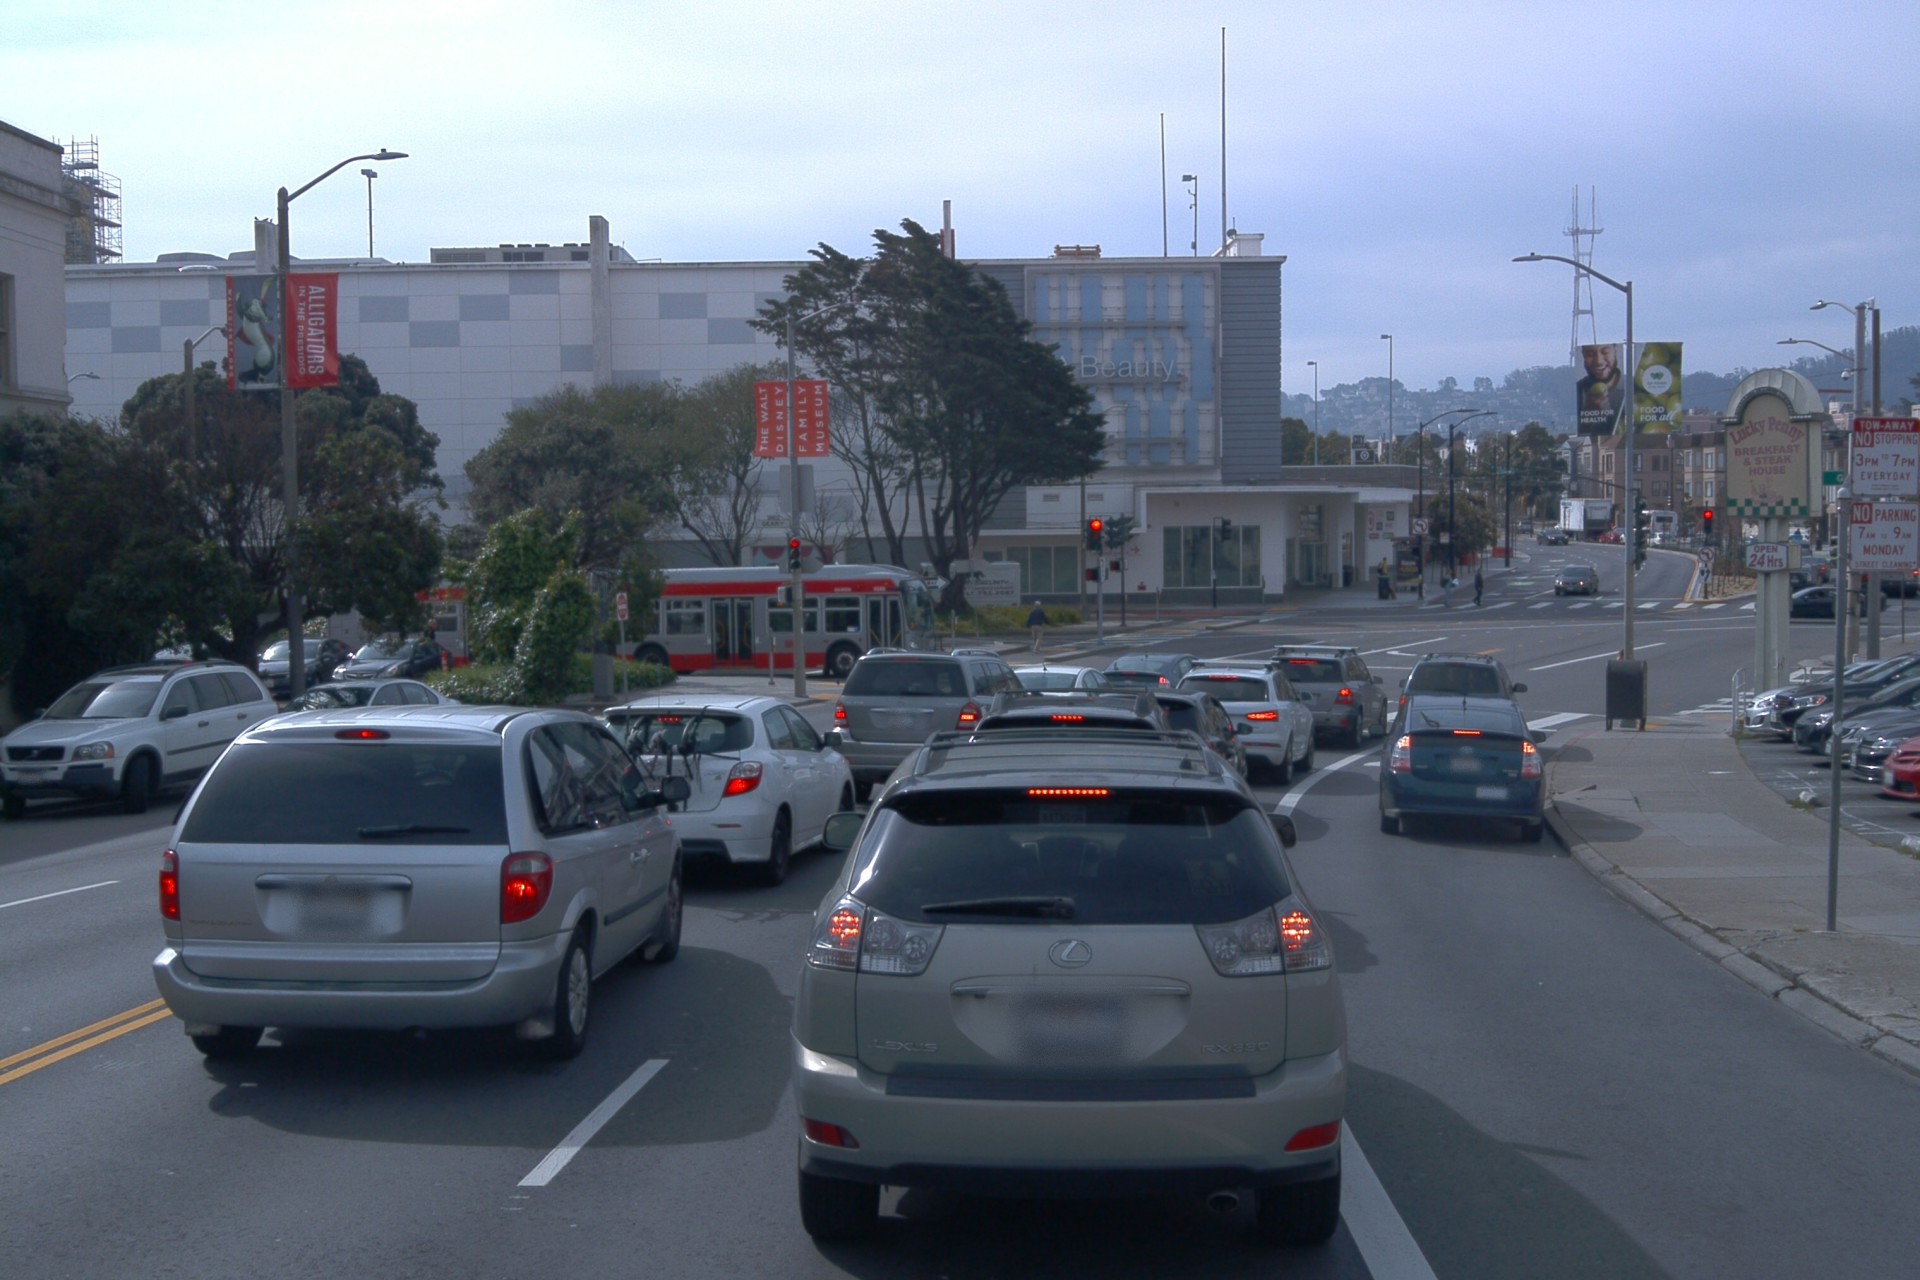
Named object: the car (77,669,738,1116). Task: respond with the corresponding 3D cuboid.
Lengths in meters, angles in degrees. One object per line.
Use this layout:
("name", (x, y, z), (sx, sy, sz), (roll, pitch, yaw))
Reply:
("car", (-2.684, 1.131, 11.269), (2.131, 1.830, 4.635), (1, 0, 4))

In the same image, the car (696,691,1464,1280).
("car", (0.408, 1.169, 8.132), (2.197, 1.780, 4.467), (1, 0, 2))

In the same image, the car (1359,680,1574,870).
("car", (5.627, 1.416, 23.175), (2.113, 1.790, 4.645), (1, 0, 12))

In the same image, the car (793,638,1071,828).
("car", (-0.210, 1.041, 25.536), (2.236, 2.100, 4.827), (1, 0, 15))

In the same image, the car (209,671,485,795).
("car", (-9.230, 1.342, 31.231), (1.977, 1.640, 4.663), (1, 0, 13))

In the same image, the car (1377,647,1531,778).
("car", (8.548, 1.158, 35.083), (2.203, 2.020, 4.801), (1, 0, 18))

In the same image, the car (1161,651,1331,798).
("car", (4.157, 1.129, 29.229), (1.795, 1.880, 4.044), (1, 0, 17))

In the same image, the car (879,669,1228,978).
("car", (0.873, 1.207, 15.397), (2.119, 1.870, 4.391), (1, 0, 9))

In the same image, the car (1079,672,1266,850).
("car", (2.538, 1.310, 23.697), (1.526, 1.780, 3.939), (1, 0, 15))

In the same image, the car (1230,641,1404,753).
("car", (6.641, 0.967, 37.539), (2.226, 1.850, 5.307), (1, 0, 20))

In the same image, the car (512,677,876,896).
("car", (-2.125, 1.144, 17.680), (1.982, 1.530, 4.306), (1, 0, 9))

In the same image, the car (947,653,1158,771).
("car", (1.575, 1.078, 32.725), (2.220, 1.670, 4.643), (1, 0, 18))
